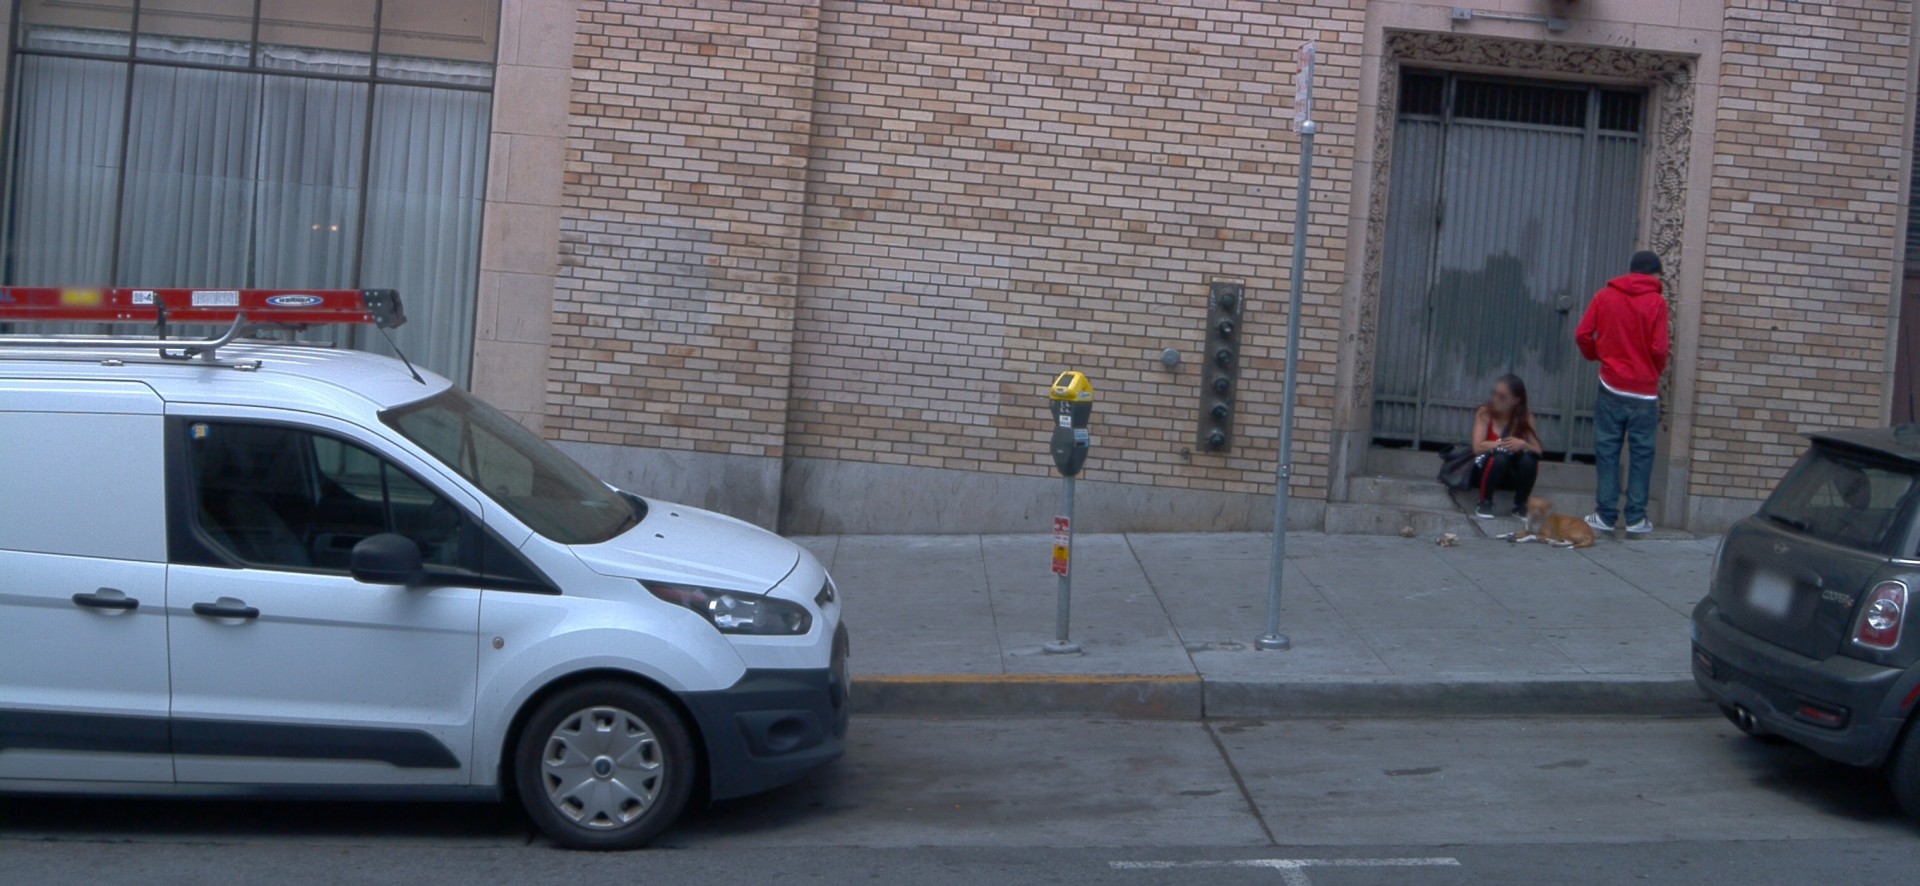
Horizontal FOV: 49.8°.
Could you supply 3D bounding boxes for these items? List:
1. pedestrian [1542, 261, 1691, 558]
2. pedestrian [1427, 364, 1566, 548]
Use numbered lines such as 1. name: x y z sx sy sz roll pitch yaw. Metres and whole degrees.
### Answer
1. pedestrian: 4.182 -0.248 13.138 0.786 1.796 0.730 1 2 28
2. pedestrian: 3.406 0.066 13.161 0.679 1.077 0.718 -1 3 -2
